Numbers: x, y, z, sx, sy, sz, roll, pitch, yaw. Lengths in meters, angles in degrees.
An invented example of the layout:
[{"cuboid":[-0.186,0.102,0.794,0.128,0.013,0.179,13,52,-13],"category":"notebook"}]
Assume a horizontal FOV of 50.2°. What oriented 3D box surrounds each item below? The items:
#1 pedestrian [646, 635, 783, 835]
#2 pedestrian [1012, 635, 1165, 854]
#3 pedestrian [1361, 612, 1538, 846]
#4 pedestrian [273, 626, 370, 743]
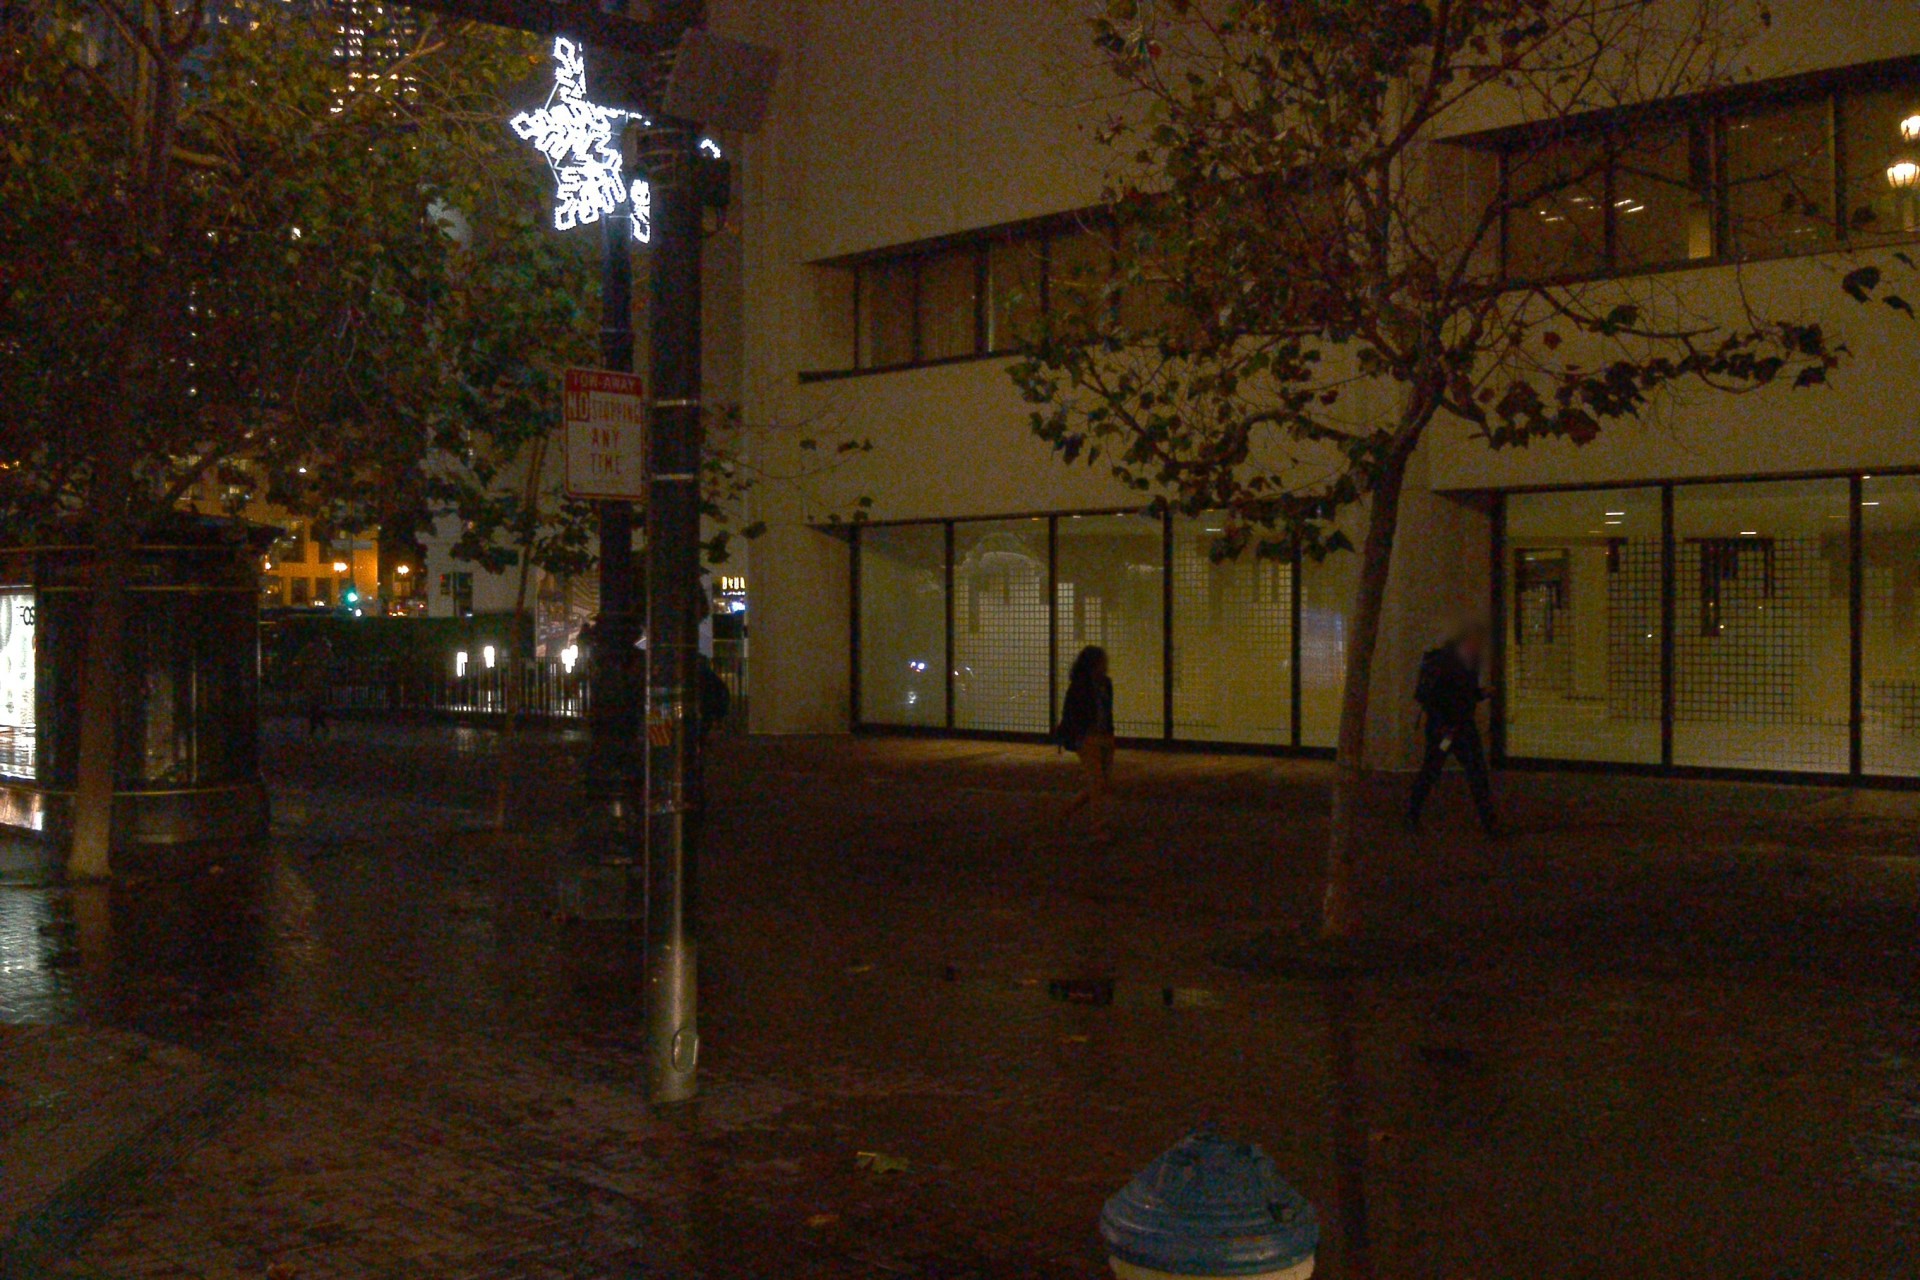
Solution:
[{"cuboid":[-2.276,0.852,18.941,0.860,1.780,1.103,1,0,-32],"category":"pedestrian"},{"cuboid":[1.081,0.852,17.263,1.050,1.780,0.729,0,0,44],"category":"pedestrian"},{"cuboid":[3.994,0.700,16.764,0.841,1.830,1.114,1,0,-38],"category":"pedestrian"},{"cuboid":[-9.283,0.632,29.798,1.061,1.670,0.918,0,0,42],"category":"pedestrian"}]
